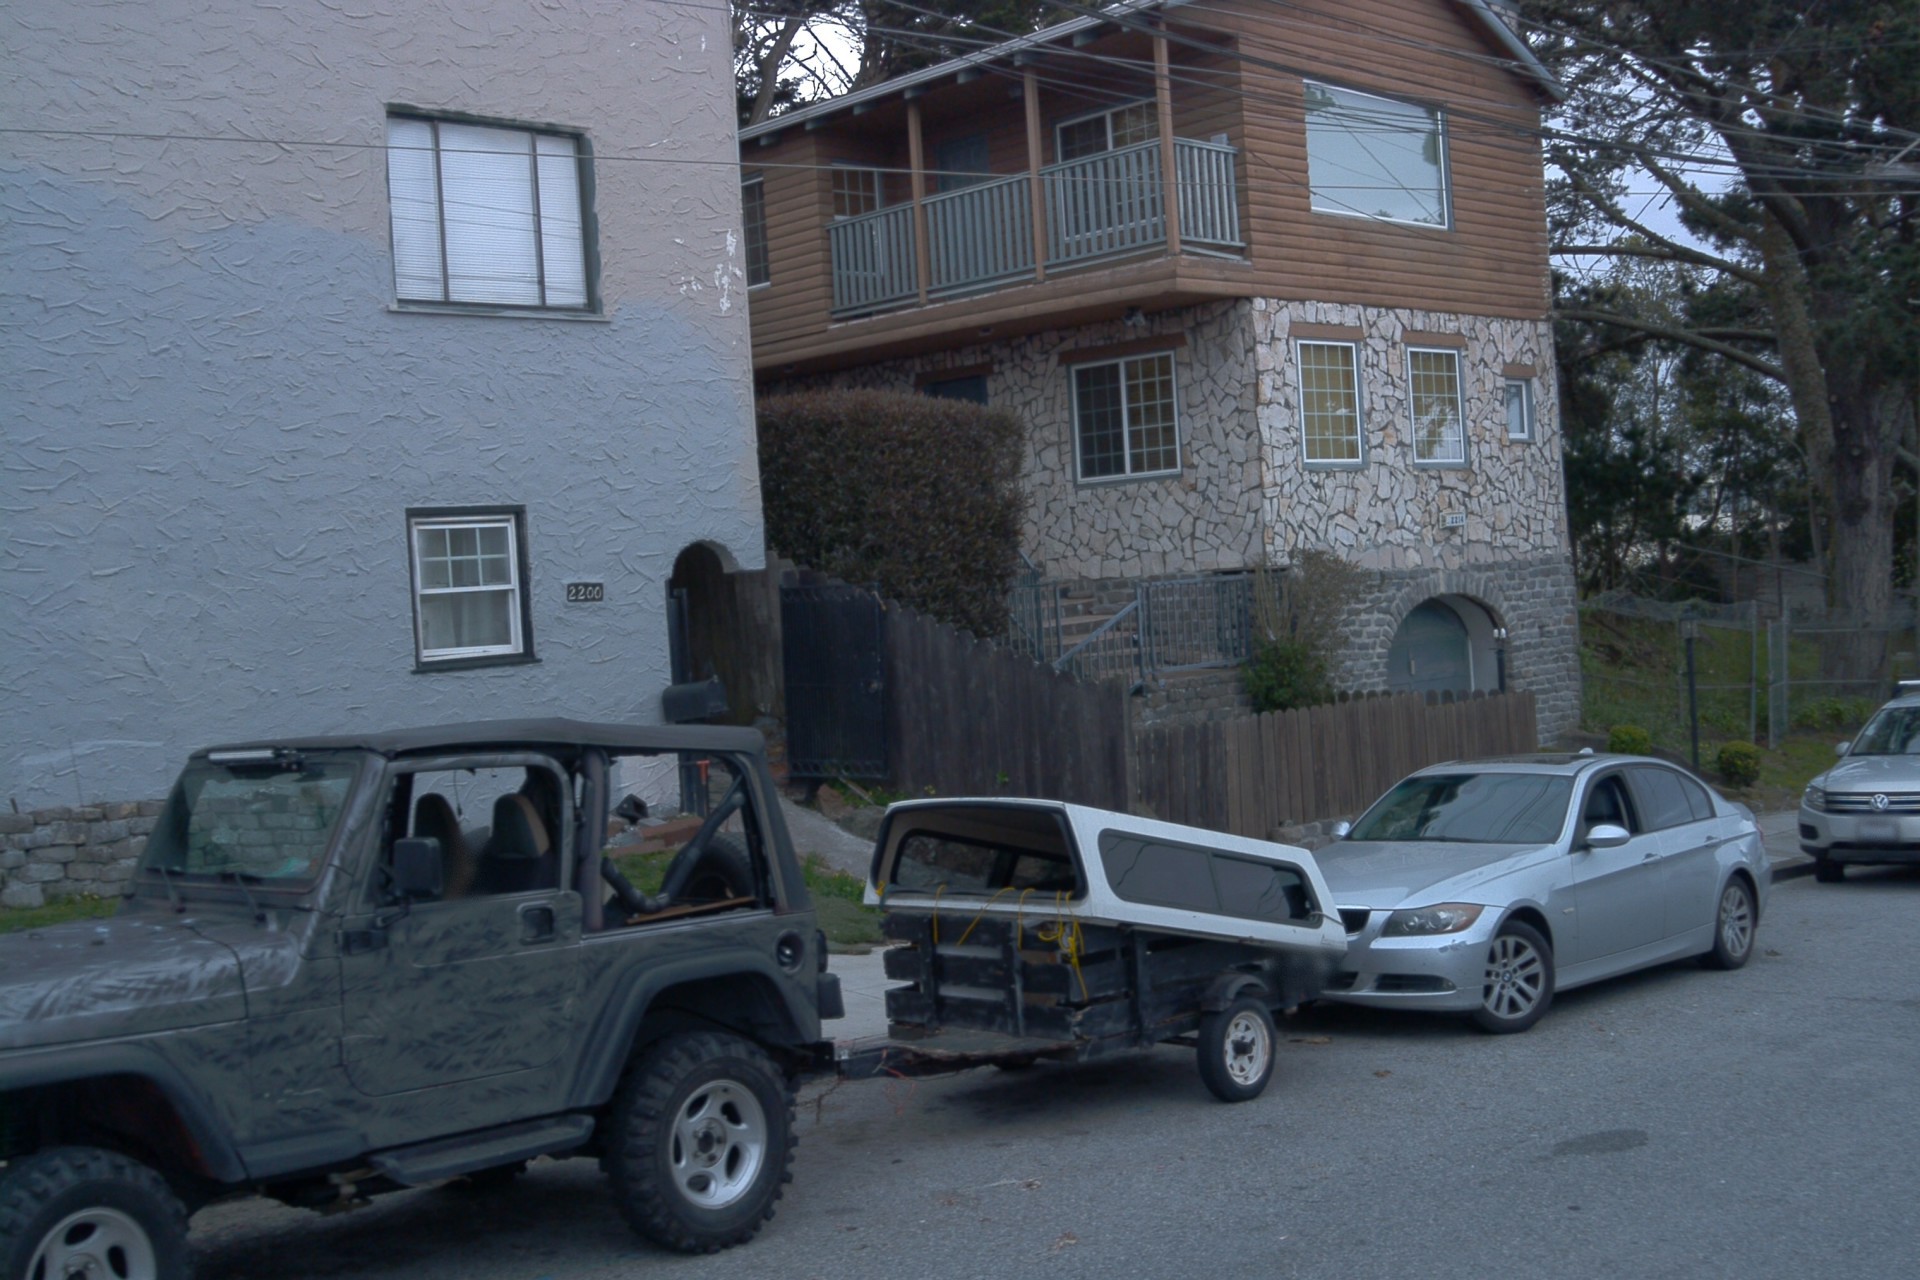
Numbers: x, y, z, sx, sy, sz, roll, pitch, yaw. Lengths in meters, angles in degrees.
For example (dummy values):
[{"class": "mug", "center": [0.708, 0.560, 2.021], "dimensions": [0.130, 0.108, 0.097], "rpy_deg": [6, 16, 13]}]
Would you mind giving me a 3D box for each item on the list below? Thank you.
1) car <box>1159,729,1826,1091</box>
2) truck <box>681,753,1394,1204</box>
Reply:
[{"class": "car", "center": [3.368, 1.423, 12.370], "dimensions": [1.976, 1.530, 4.518], "rpy_deg": [1, 1, 43]}, {"class": "truck", "center": [0.433, 1.386, 9.485], "dimensions": [2.987, 1.510, 1.694], "rpy_deg": [0, 1, -44]}]
